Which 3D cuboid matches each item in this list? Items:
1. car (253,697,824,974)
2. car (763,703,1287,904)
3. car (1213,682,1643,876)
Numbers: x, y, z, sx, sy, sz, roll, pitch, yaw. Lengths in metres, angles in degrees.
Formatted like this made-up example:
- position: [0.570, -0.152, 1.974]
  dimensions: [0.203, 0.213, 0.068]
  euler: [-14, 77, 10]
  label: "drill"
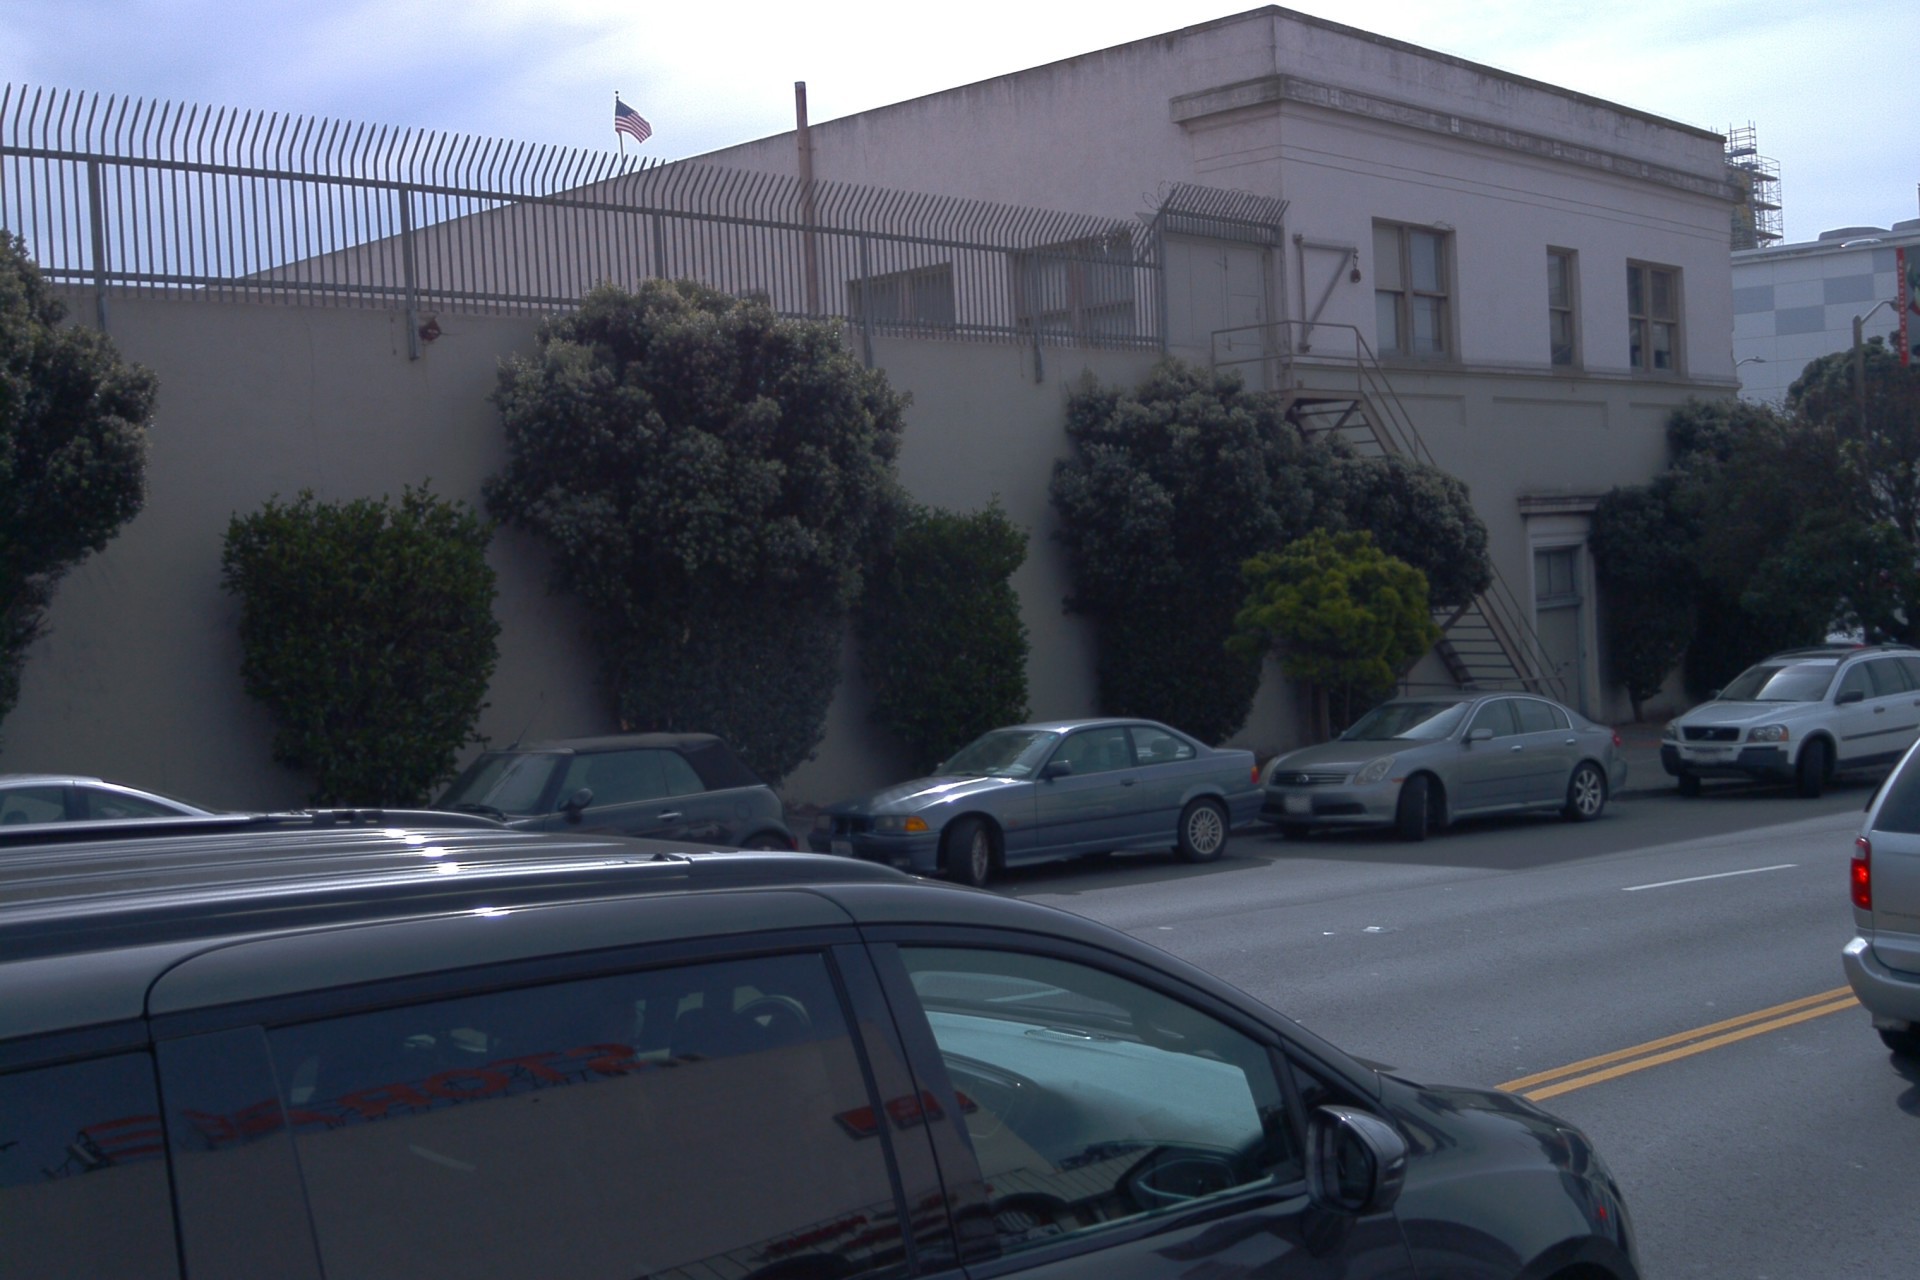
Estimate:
- position: [-2.985, 1.298, 15.044]
  dimensions: [1.796, 1.600, 3.729]
  euler: [1, 1, 44]
  label: "car"
- position: [0.659, 1.360, 18.434]
  dimensions: [4.448, 1.390, 2.035]
  euler: [-1, 1, -39]
  label: "car"
- position: [5.011, 1.358, 21.683]
  dimensions: [4.687, 1.660, 2.019]
  euler: [-1, 1, -41]
  label: "car"
